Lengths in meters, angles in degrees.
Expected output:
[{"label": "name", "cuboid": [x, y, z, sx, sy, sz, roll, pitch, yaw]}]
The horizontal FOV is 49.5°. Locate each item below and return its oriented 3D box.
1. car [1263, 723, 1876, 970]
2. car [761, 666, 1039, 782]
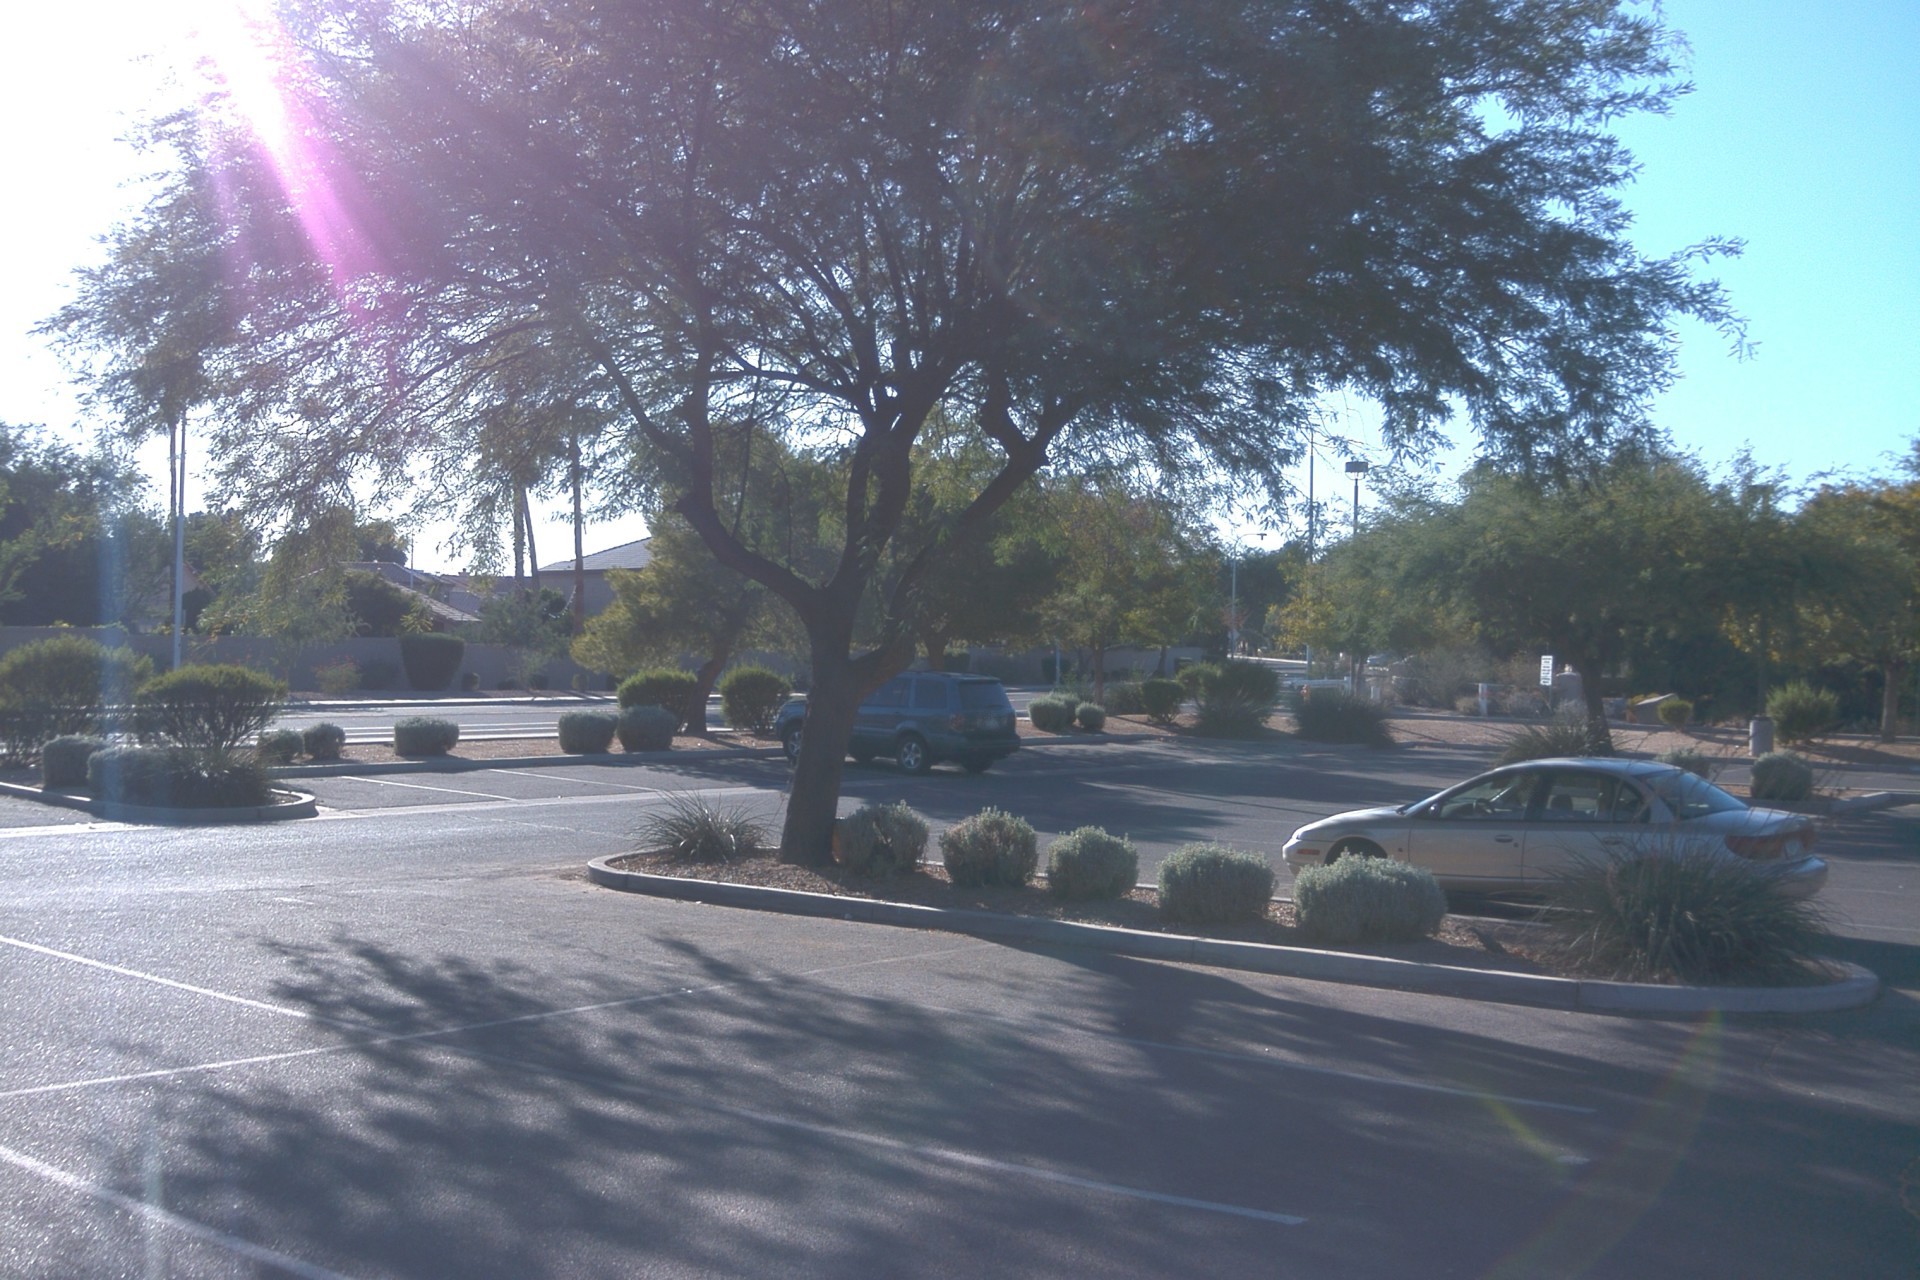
[{"label": "car", "cuboid": [4.987, 1.592, 17.377, 4.490, 1.604, 1.956, 1, 0, 41]}, {"label": "car", "cuboid": [-1.104, 1.432, 36.926, 4.648, 1.850, 2.107, 1, 0, 39]}]
